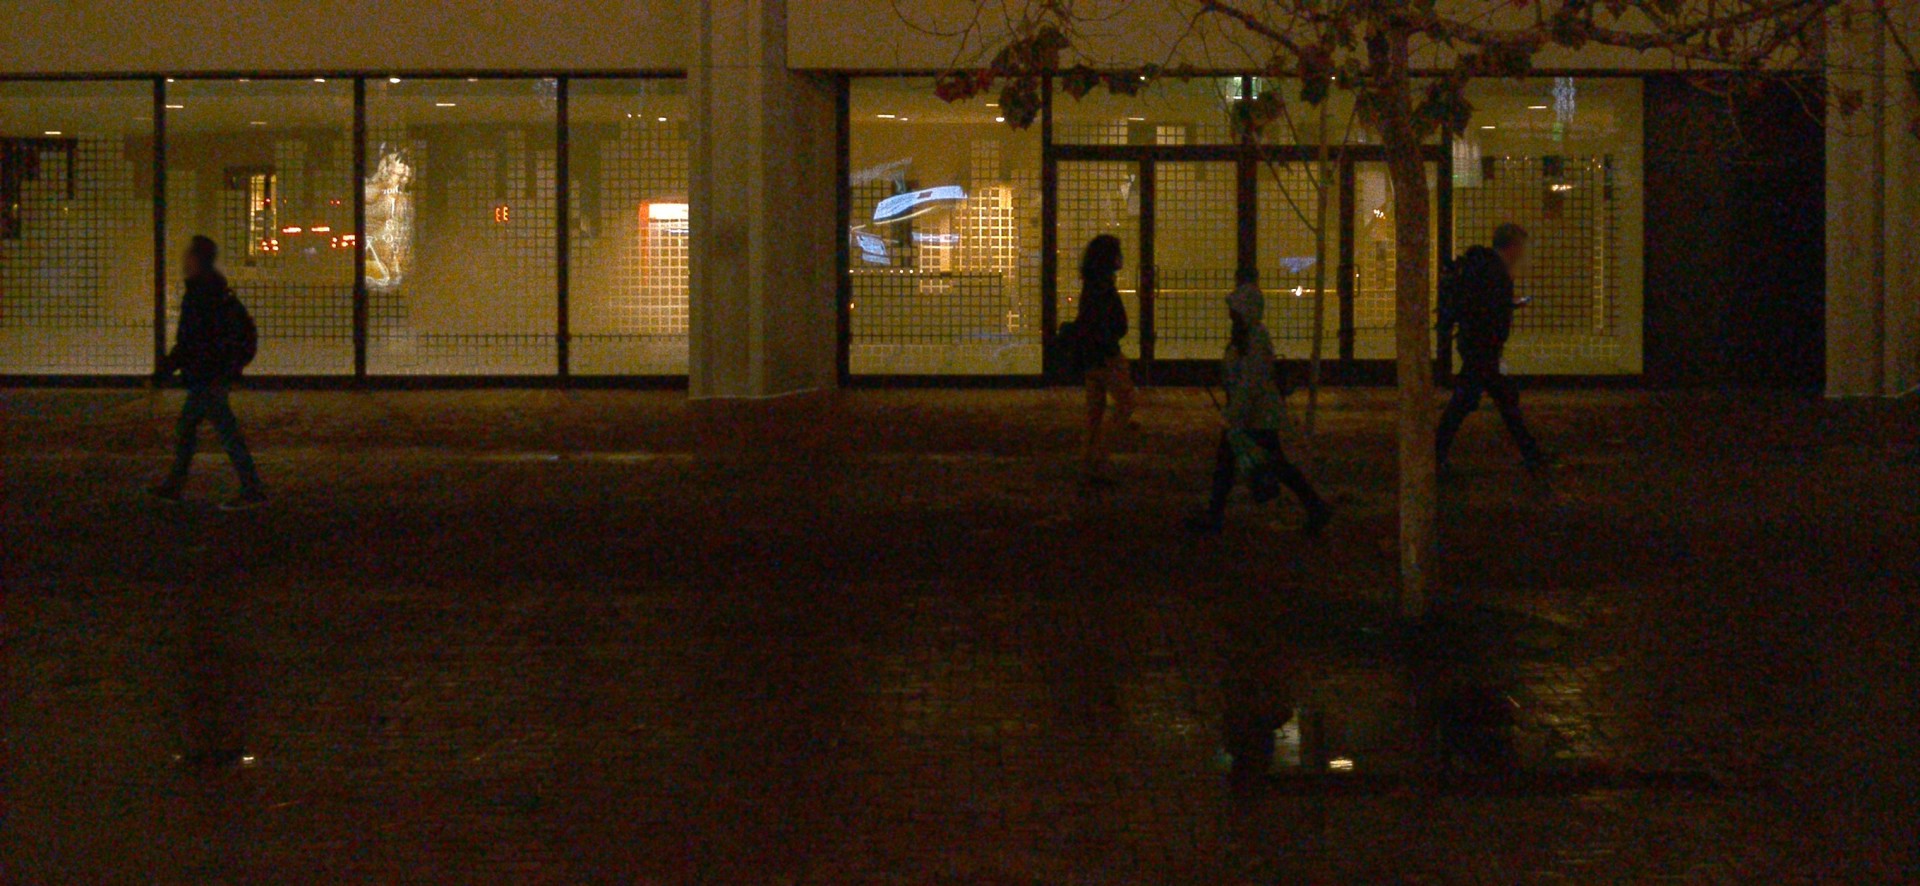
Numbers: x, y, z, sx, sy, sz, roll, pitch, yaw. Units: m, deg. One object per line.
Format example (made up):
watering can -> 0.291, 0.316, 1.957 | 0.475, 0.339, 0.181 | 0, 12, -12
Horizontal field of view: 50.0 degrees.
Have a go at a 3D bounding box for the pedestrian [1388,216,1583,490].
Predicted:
pedestrian -> 3.613, -0.643, 14.242 | 1.111, 1.831, 0.844 | 0, 1, -2

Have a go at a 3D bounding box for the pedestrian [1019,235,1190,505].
pedestrian -> 0.967, -0.518, 13.977 | 1.048, 1.781, 0.731 | 0, 0, -5

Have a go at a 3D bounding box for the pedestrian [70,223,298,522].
pedestrian -> -4.952, -0.475, 13.184 | 1.141, 1.851, 0.760 | 0, 0, 6

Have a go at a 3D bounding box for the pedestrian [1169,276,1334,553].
pedestrian -> 1.722, -0.203, 12.296 | 0.869, 1.581, 0.941 | 0, 1, 1
